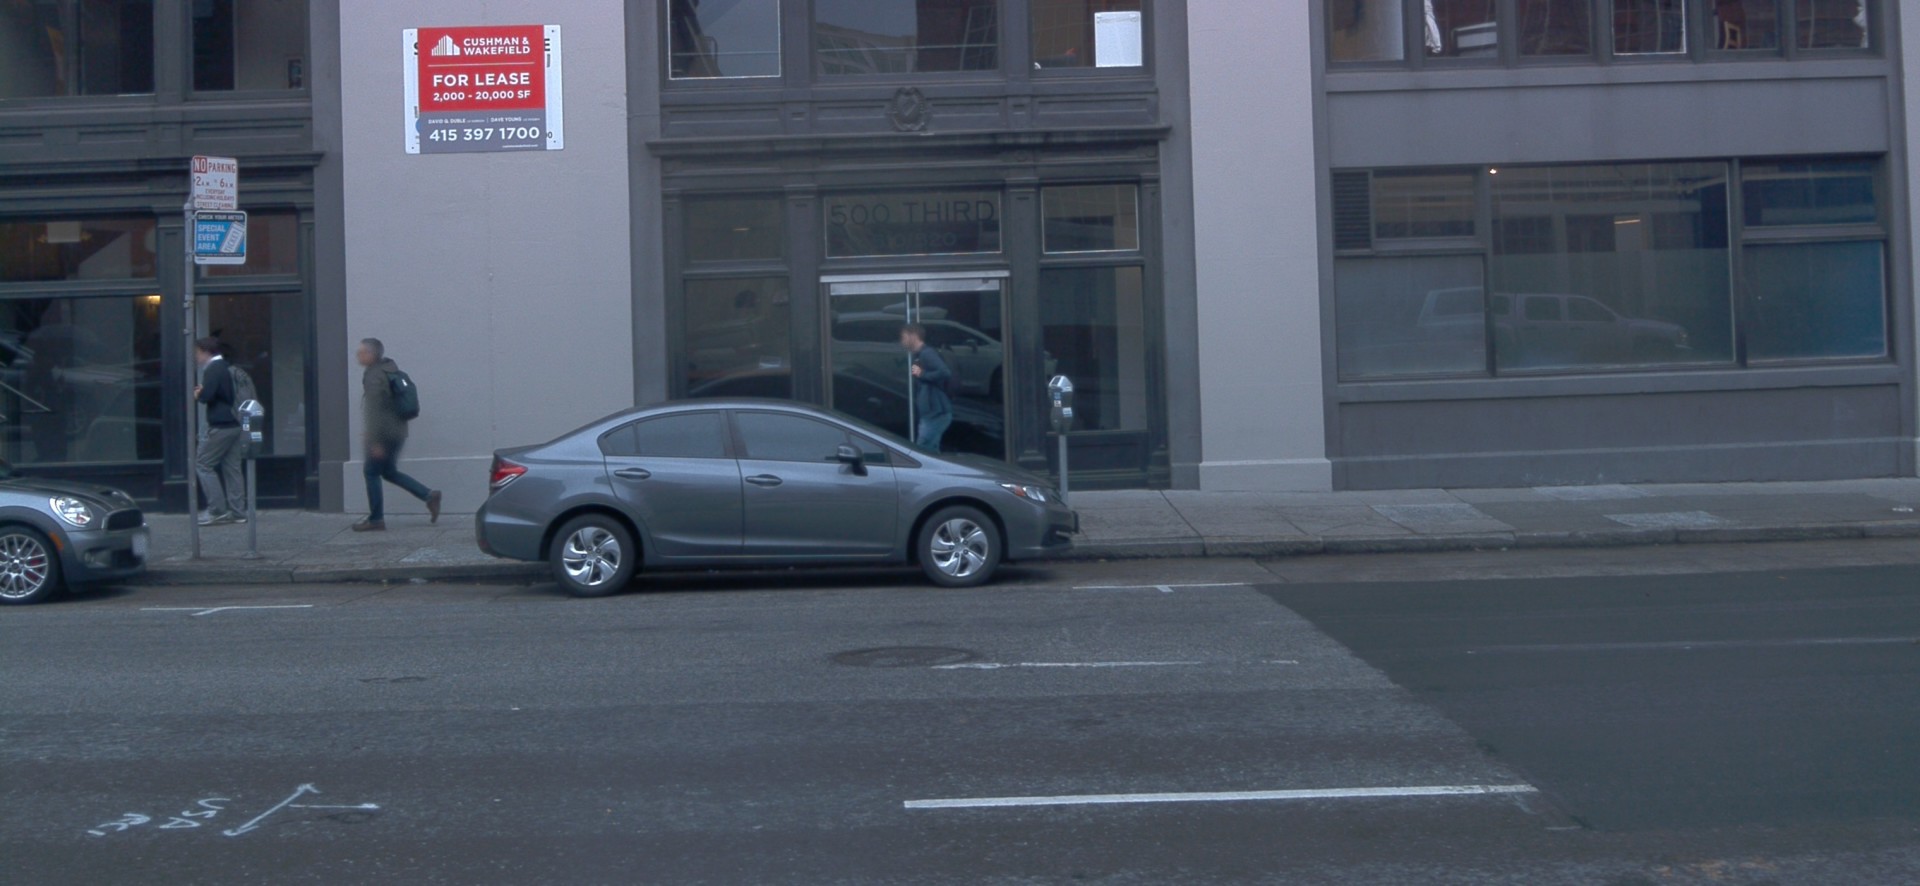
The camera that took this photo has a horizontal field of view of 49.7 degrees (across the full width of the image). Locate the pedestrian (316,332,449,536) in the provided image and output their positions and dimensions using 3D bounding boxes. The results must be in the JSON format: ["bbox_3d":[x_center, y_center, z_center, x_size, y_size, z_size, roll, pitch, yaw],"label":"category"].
[{"bbox_3d":[-5.320,-0.107,19.166,1.010,1.800,0.864,0,1,-3],"label":"pedestrian"}]

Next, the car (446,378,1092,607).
[{"bbox_3d":[-1.392,0.317,15.877,4.616,1.477,2.025,0,4,-2],"label":"car"}]

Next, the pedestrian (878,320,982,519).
[{"bbox_3d":[-0.282,-0.241,19.288,0.948,1.770,0.839,0,1,-1],"label":"pedestrian"}]

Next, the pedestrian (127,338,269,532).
[{"bbox_3d":[-7.151,-0.094,19.507,1.027,1.740,0.850,0,1,-1],"label":"pedestrian"}]
